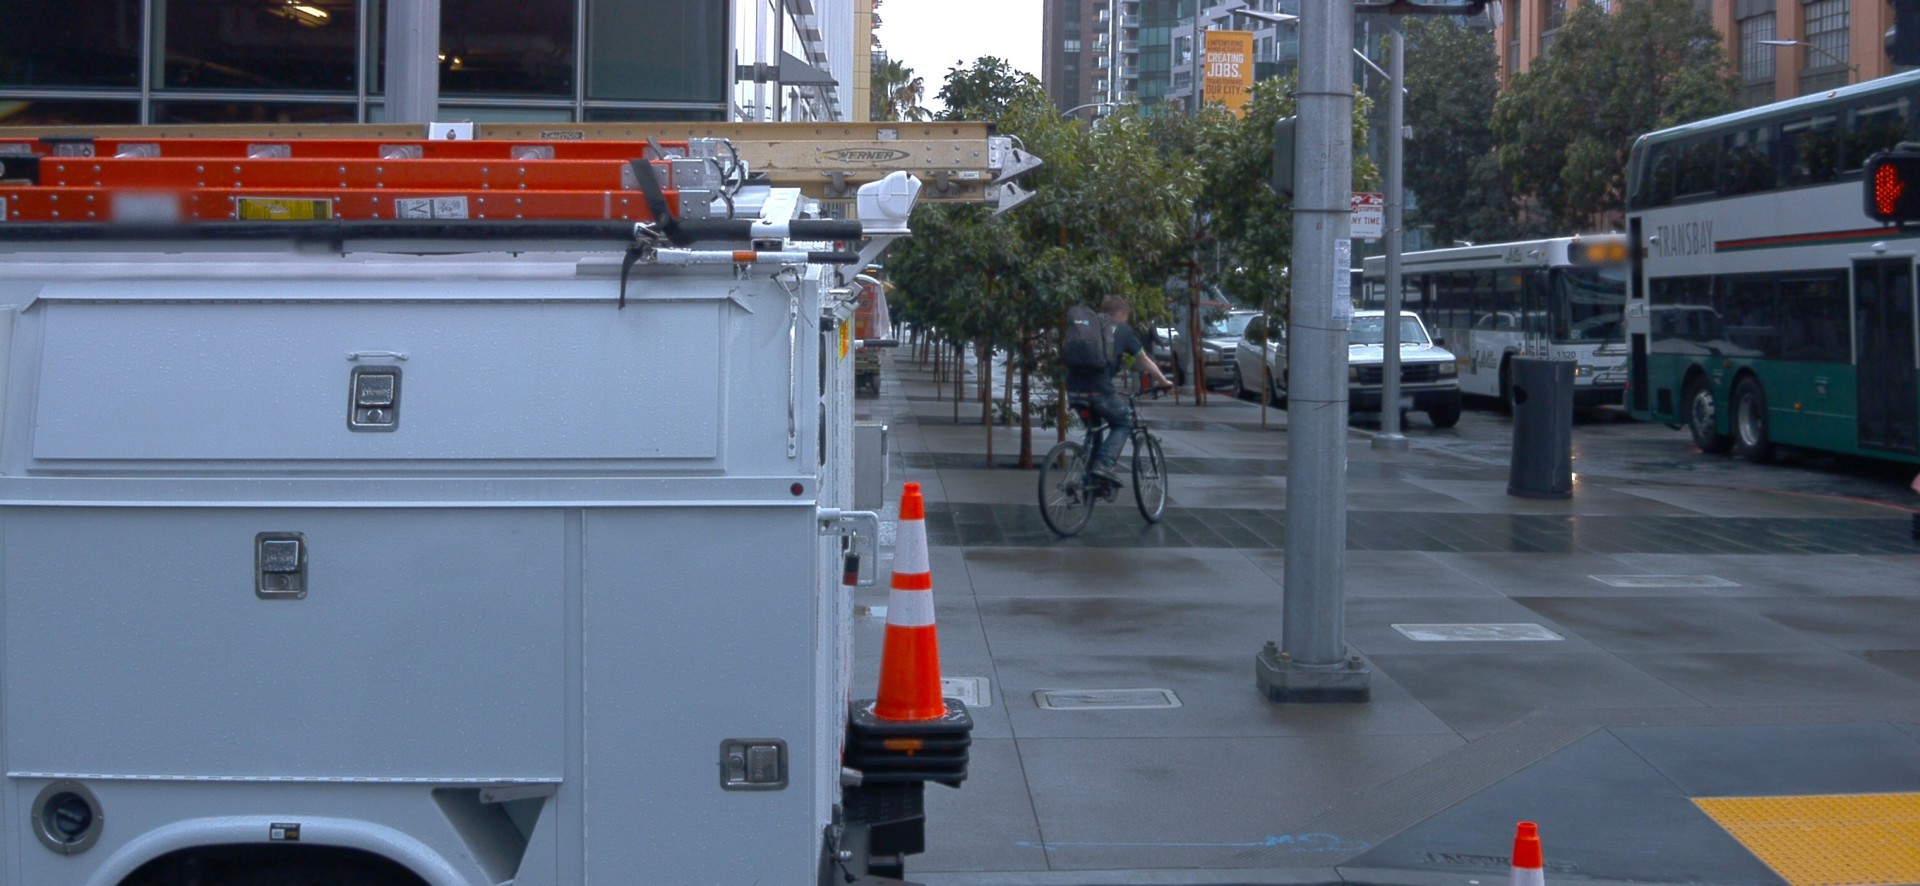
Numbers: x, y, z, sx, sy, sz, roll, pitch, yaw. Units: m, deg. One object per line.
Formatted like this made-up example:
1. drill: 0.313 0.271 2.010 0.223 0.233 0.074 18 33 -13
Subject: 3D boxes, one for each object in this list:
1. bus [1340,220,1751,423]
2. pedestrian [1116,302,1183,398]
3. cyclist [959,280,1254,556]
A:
1. bus: 9.885 -2.449 36.859 3.258 2.996 12.707 0 6 -2
2. pedestrian: 3.672 -1.809 39.728 1.007 1.768 1.087 1 2 22
3. cyclist: 1.071 -0.257 14.529 1.209 1.741 2.031 2 4 35
